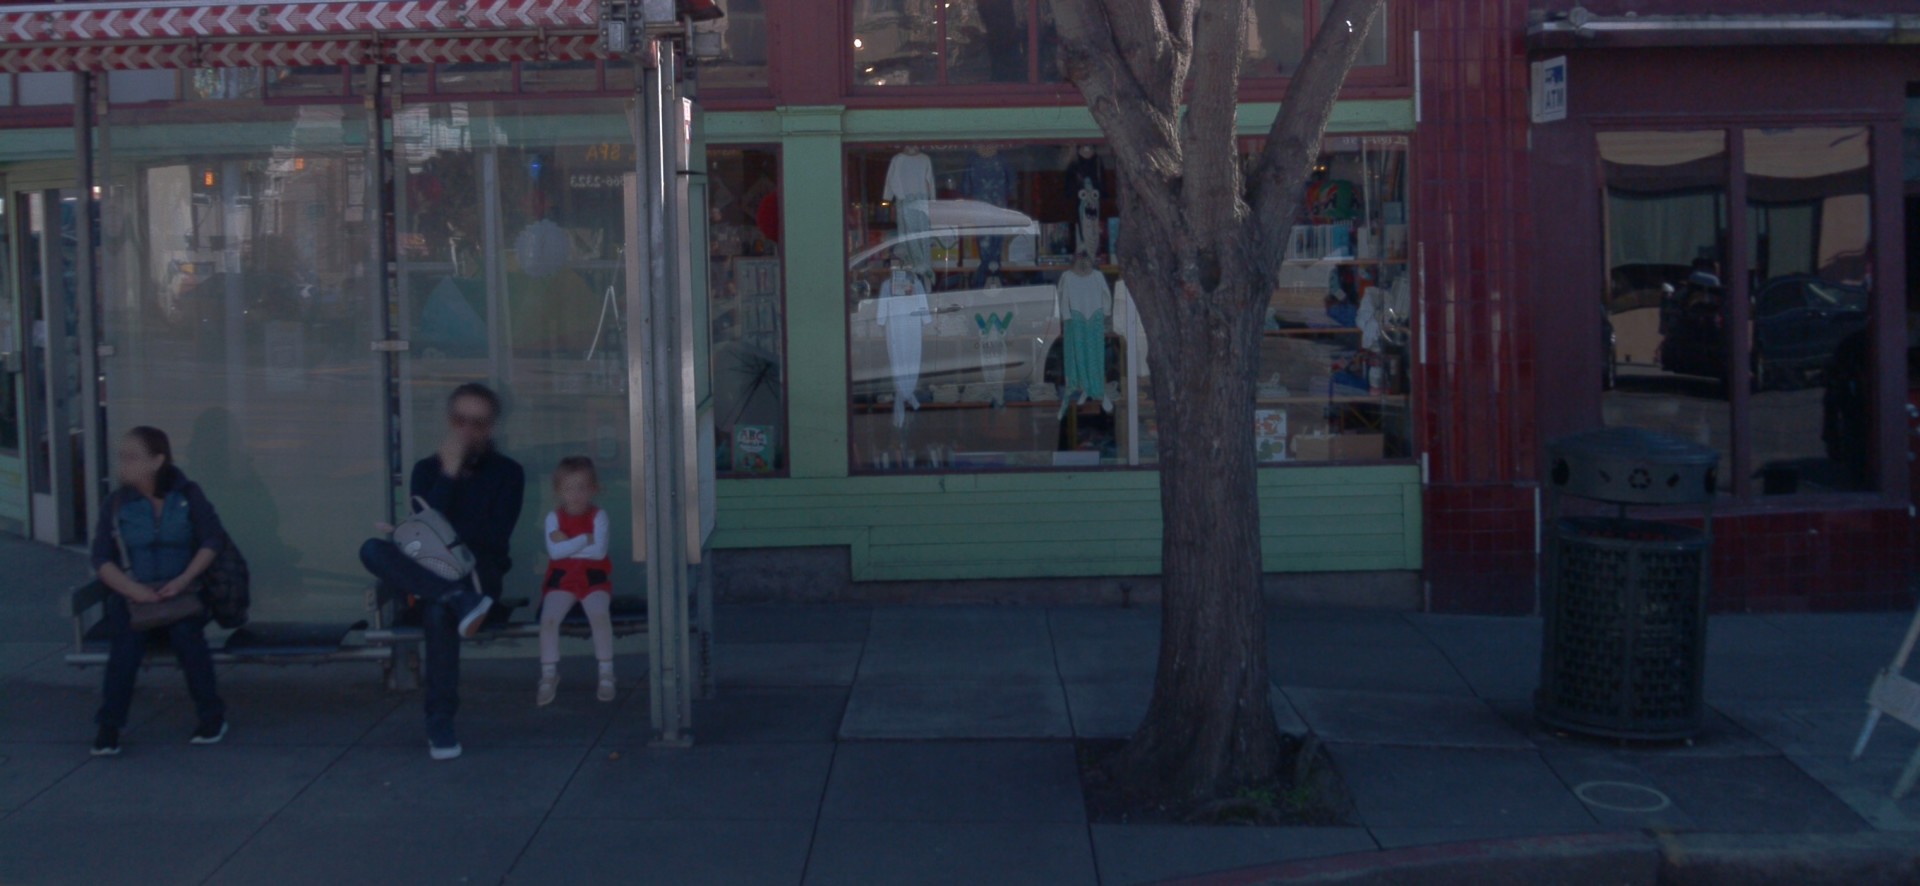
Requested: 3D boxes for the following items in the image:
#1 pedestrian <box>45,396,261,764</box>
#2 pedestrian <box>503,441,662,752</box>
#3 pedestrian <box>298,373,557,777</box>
[{"bbox_3d":[-3.126,0.490,8.060,0.737,1.258,0.794,-1,2,-19],"label":"pedestrian"},{"bbox_3d":[-1.459,0.577,8.052,0.528,1.098,0.572,0,2,-3],"label":"pedestrian"},{"bbox_3d":[-2.032,0.468,7.999,0.753,1.398,0.926,0,2,0],"label":"pedestrian"}]
